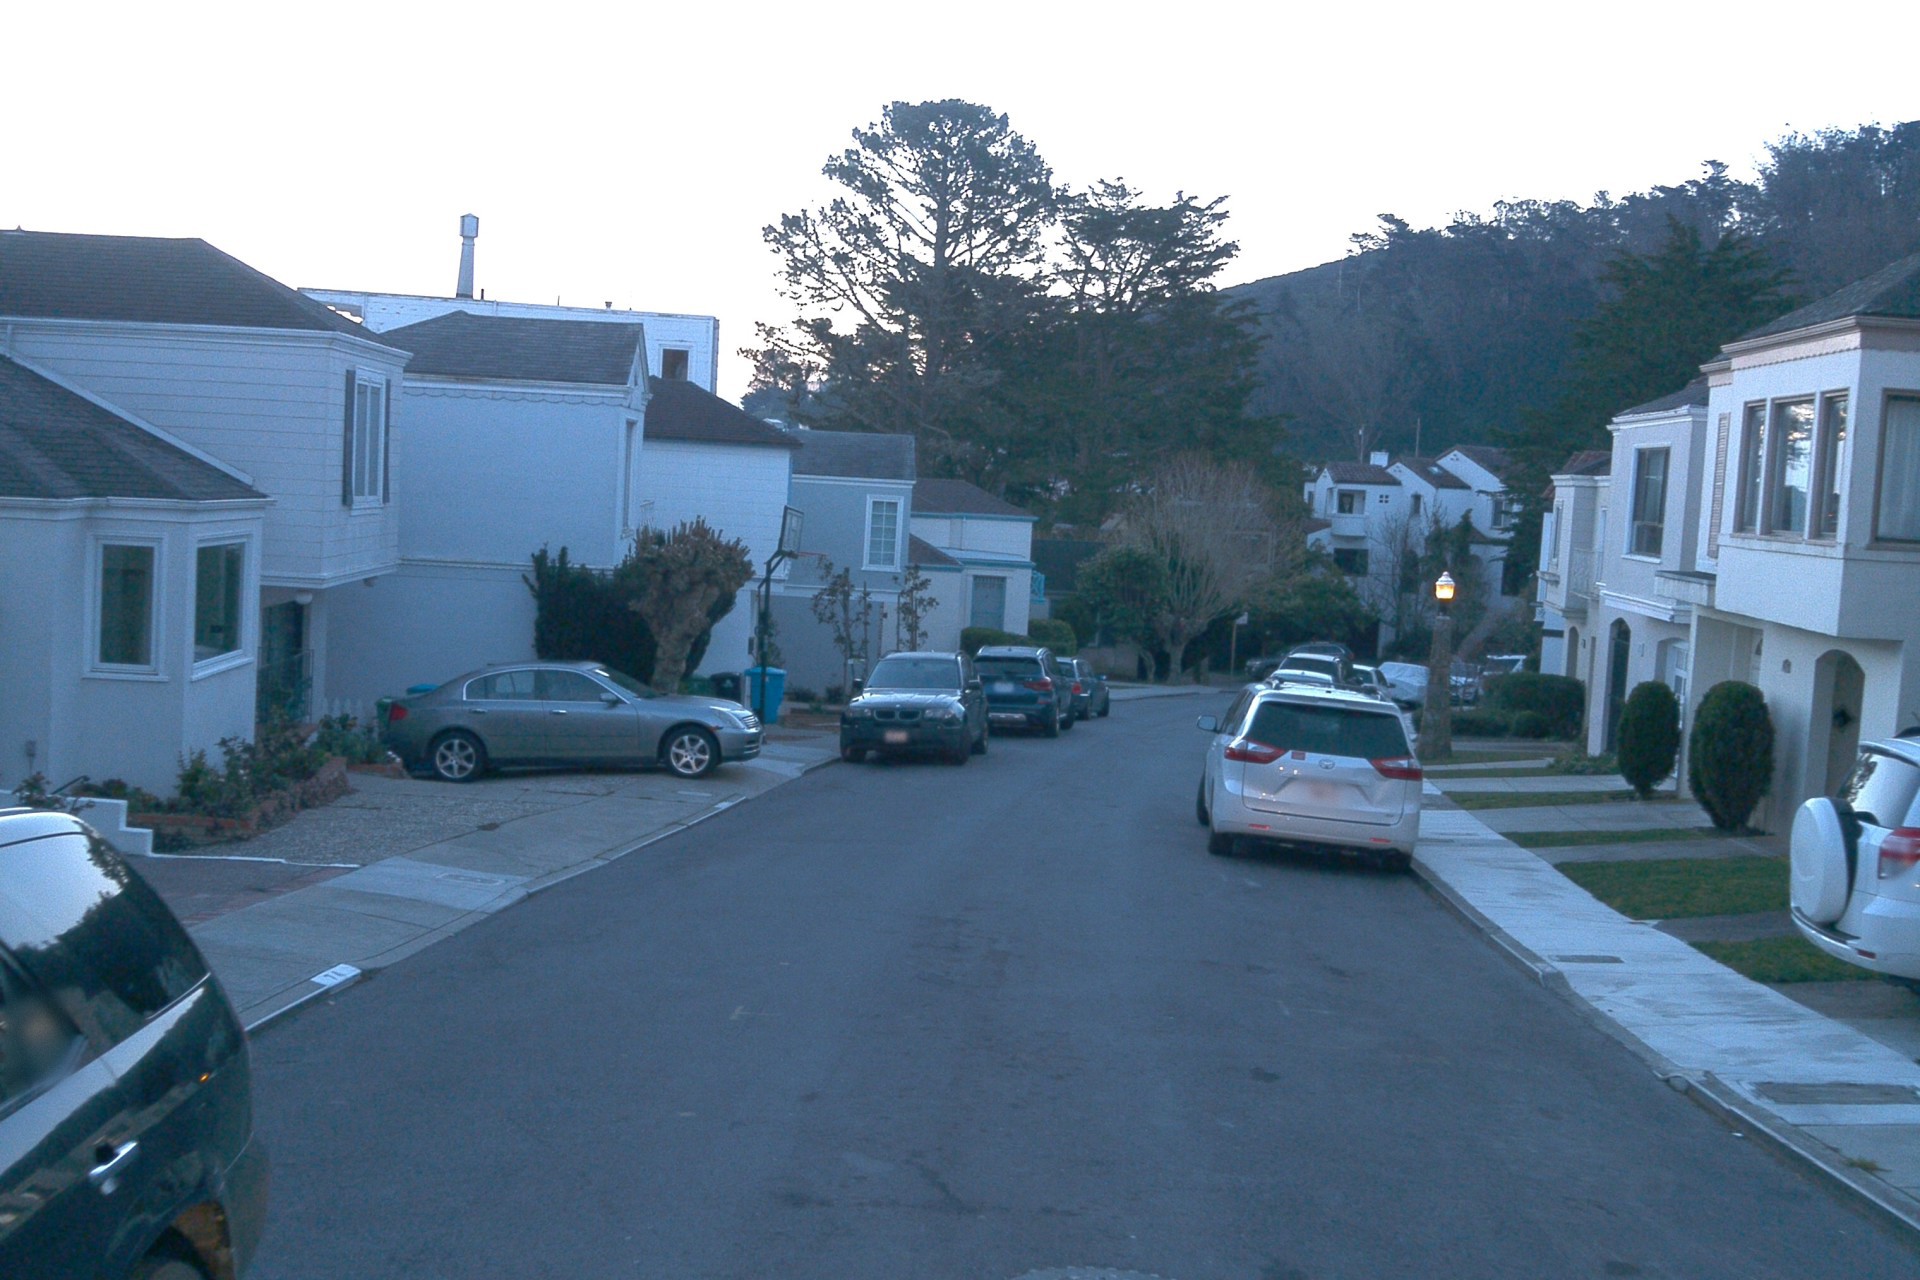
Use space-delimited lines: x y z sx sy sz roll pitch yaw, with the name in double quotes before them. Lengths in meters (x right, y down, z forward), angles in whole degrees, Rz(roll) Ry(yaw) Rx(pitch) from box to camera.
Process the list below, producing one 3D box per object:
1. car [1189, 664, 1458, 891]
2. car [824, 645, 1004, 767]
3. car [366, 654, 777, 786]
"car" 3.646 1.299 21.735 2.376 2.050 5.074 0 0 5
"car" -0.619 0.951 31.808 2.095 1.740 4.526 0 0 8
"car" -4.802 0.974 26.065 4.768 1.580 1.989 0 0 2
